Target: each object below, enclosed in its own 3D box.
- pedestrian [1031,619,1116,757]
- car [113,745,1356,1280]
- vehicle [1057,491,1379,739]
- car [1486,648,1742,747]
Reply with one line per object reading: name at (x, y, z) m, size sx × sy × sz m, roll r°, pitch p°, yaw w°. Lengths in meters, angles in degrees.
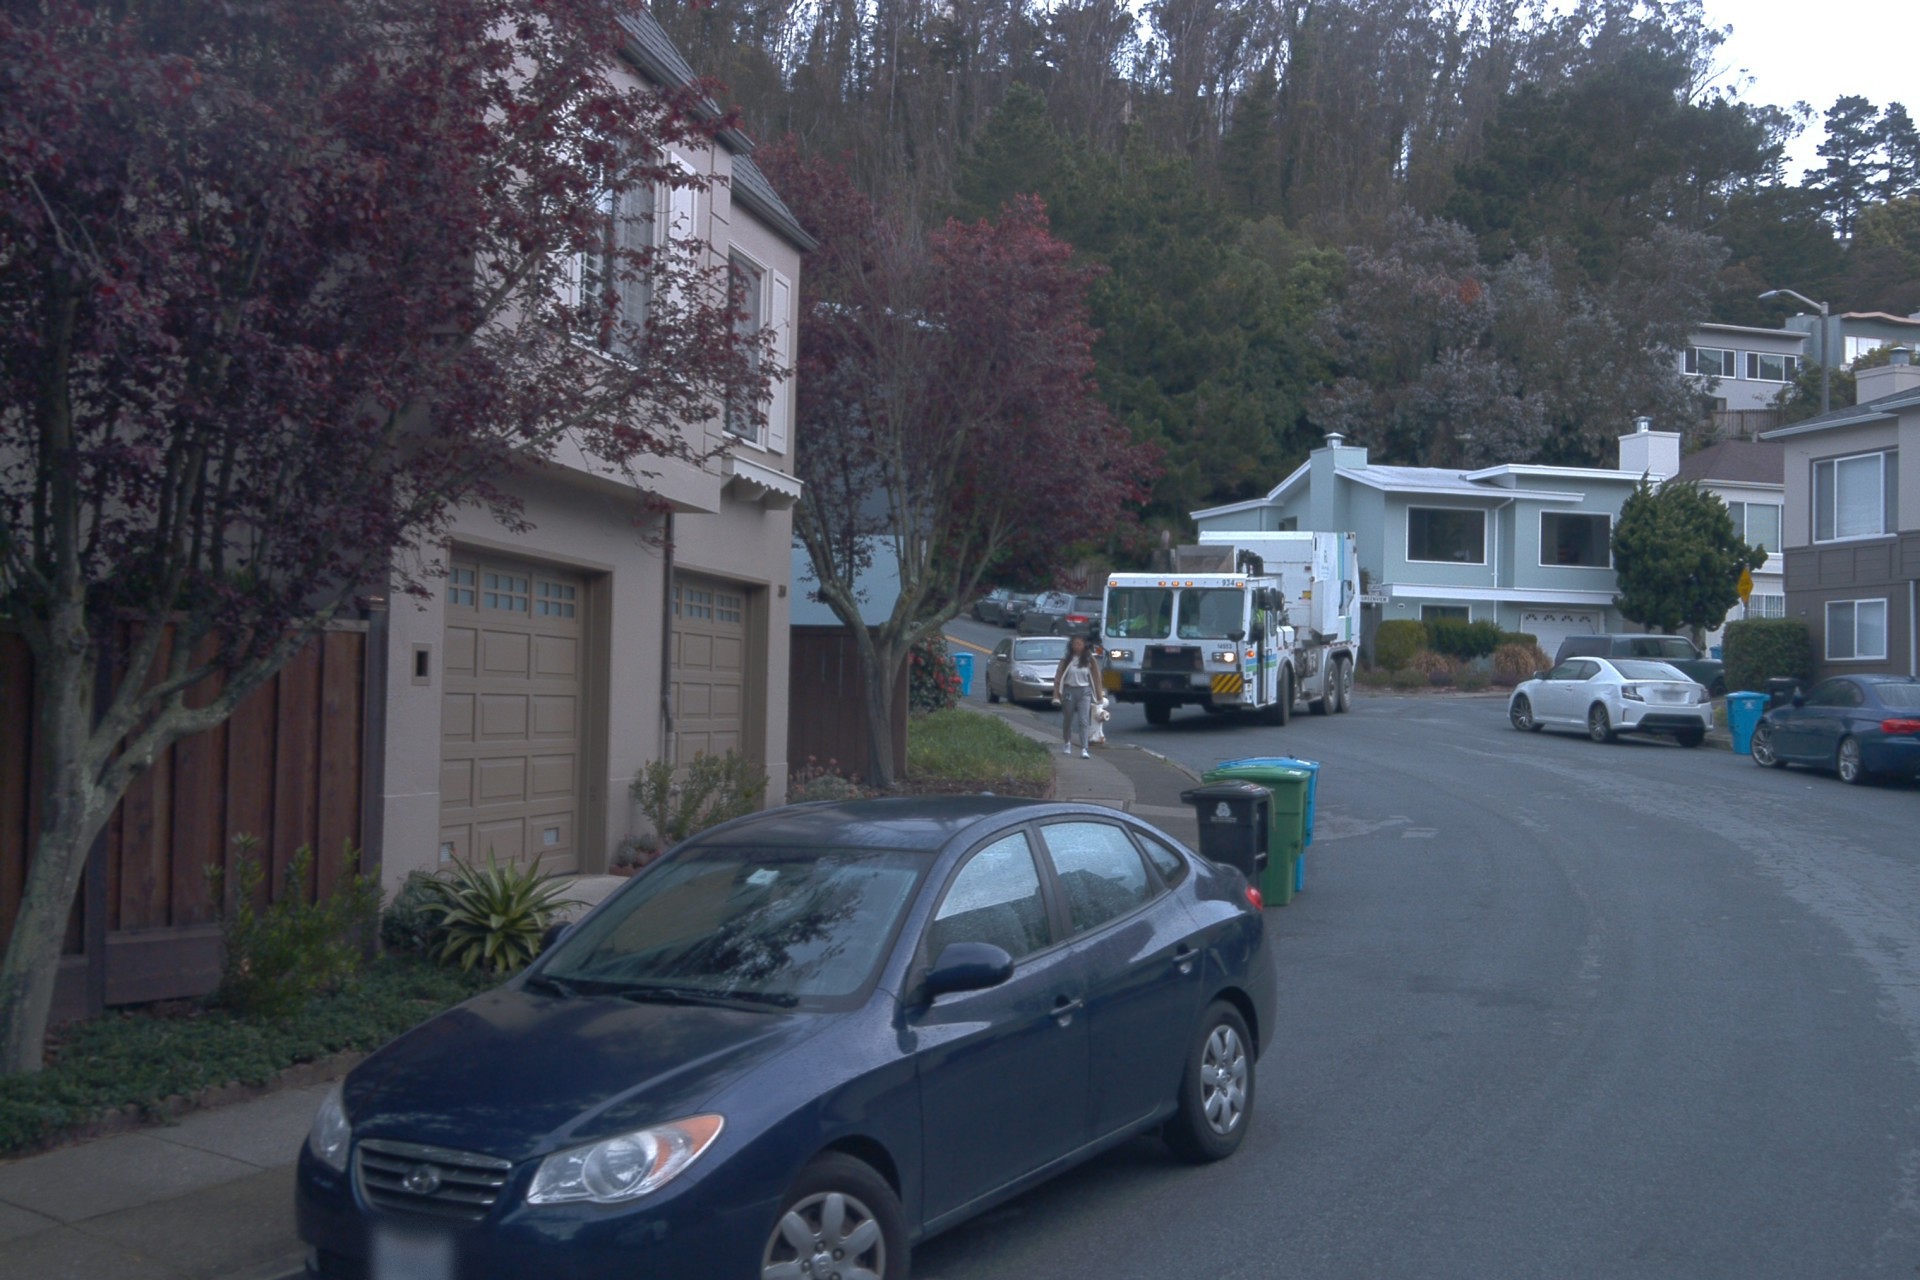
pedestrian at (1.460, 0.610, 26.797) m, size 0.954 × 1.740 × 0.999 m, roll 0°, pitch 0°, yaw -5°
car at (-0.401, 1.345, 7.459) m, size 2.145 × 1.660 × 4.487 m, roll 0°, pitch 0°, yaw 31°
vehicle at (5.115, -0.420, 38.353) m, size 3.289 × 3.920 × 10.712 m, roll 0°, pitch 0°, yaw 22°
car at (11.030, 0.922, 35.366) m, size 2.210 × 1.540 × 4.526 m, roll 0°, pitch 0°, yaw -12°
